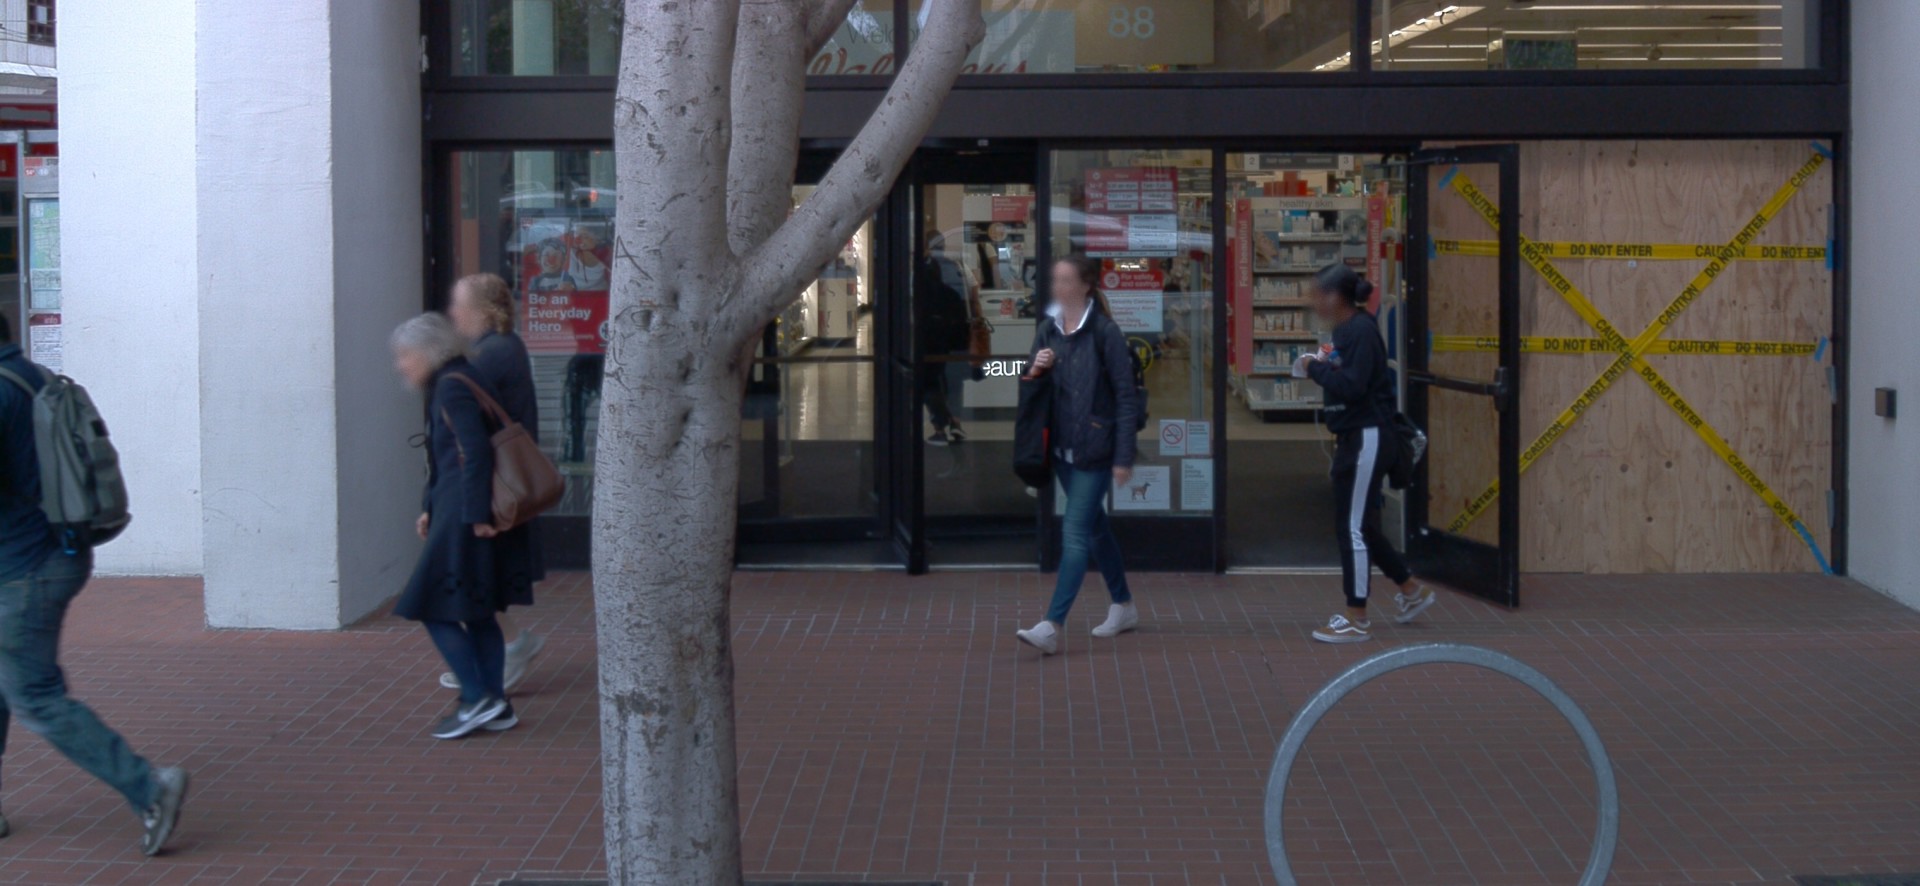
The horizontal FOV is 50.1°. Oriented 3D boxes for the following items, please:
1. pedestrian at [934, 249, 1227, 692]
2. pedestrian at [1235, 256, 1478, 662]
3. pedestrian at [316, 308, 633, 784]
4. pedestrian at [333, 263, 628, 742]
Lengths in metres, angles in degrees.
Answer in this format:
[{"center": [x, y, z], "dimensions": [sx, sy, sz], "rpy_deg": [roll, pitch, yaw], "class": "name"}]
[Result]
[{"center": [0.506, 0.050, 8.601], "dimensions": [0.902, 1.715, 0.833], "rpy_deg": [-1, 2, -44], "class": "pedestrian"}, {"center": [1.680, 0.031, 8.795], "dimensions": [0.866, 1.655, 0.696], "rpy_deg": [0, 1, -5], "class": "pedestrian"}, {"center": [-1.685, 0.315, 7.251], "dimensions": [0.893, 1.555, 0.782], "rpy_deg": [0, 1, 3], "class": "pedestrian"}, {"center": [-1.791, 0.179, 7.790], "dimensions": [0.915, 1.715, 0.743], "rpy_deg": [0, 1, 3], "class": "pedestrian"}]
